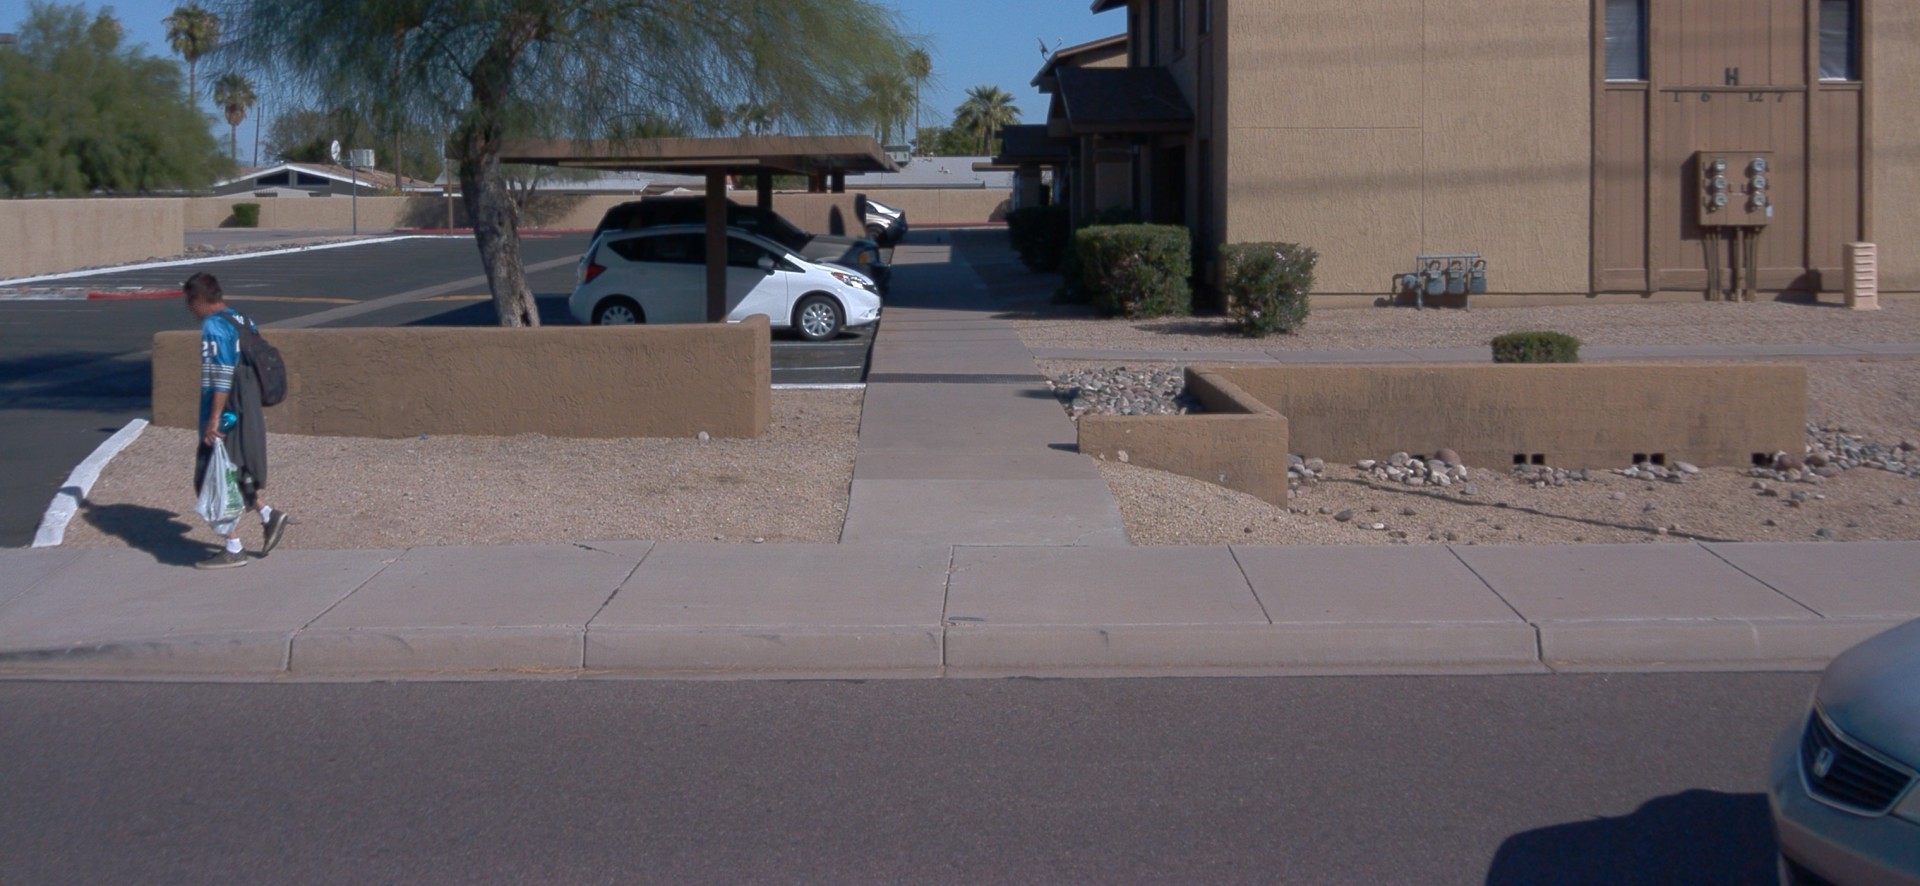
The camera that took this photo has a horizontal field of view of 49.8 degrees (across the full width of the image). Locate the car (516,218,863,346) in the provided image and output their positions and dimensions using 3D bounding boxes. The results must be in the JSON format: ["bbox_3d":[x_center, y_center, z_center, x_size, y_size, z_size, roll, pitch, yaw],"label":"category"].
[{"bbox_3d":[-3.474,-2.141,27.235,4.379,1.597,1.942,-1,3,-3],"label":"car"}]

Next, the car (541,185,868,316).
[{"bbox_3d":[-3.960,-3.050,32.713,4.936,1.988,1.968,0,3,-1],"label":"car"}]
